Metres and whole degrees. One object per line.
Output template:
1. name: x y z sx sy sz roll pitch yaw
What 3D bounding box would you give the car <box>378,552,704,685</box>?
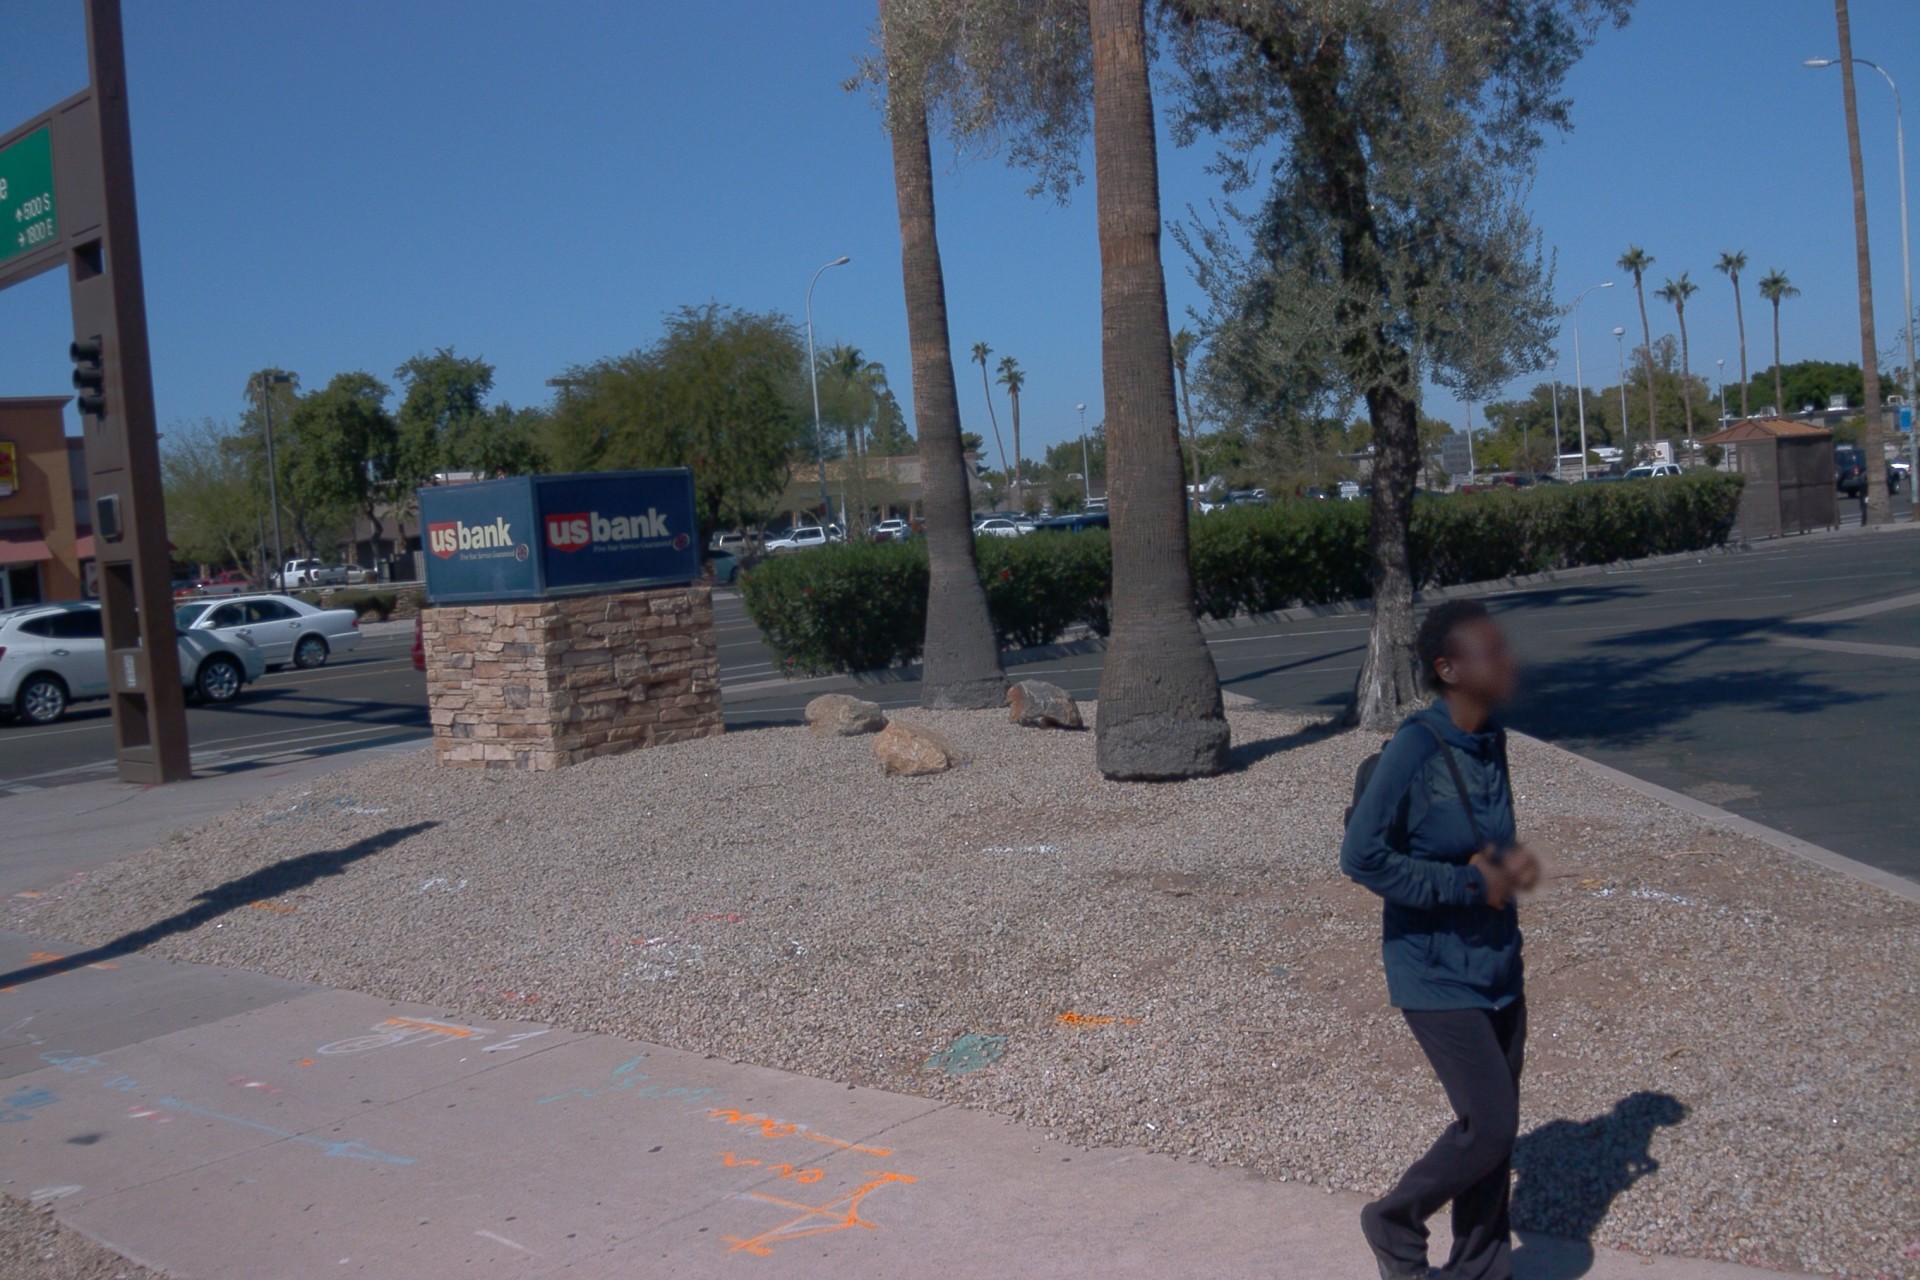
1. car: -6.207 -0.282 31.197 4.465 1.830 1.849 0 -1 -44

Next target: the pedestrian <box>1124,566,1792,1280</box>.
1. pedestrian: 1.082 0.729 4.649 0.807 1.714 1.173 0 -1 -41
